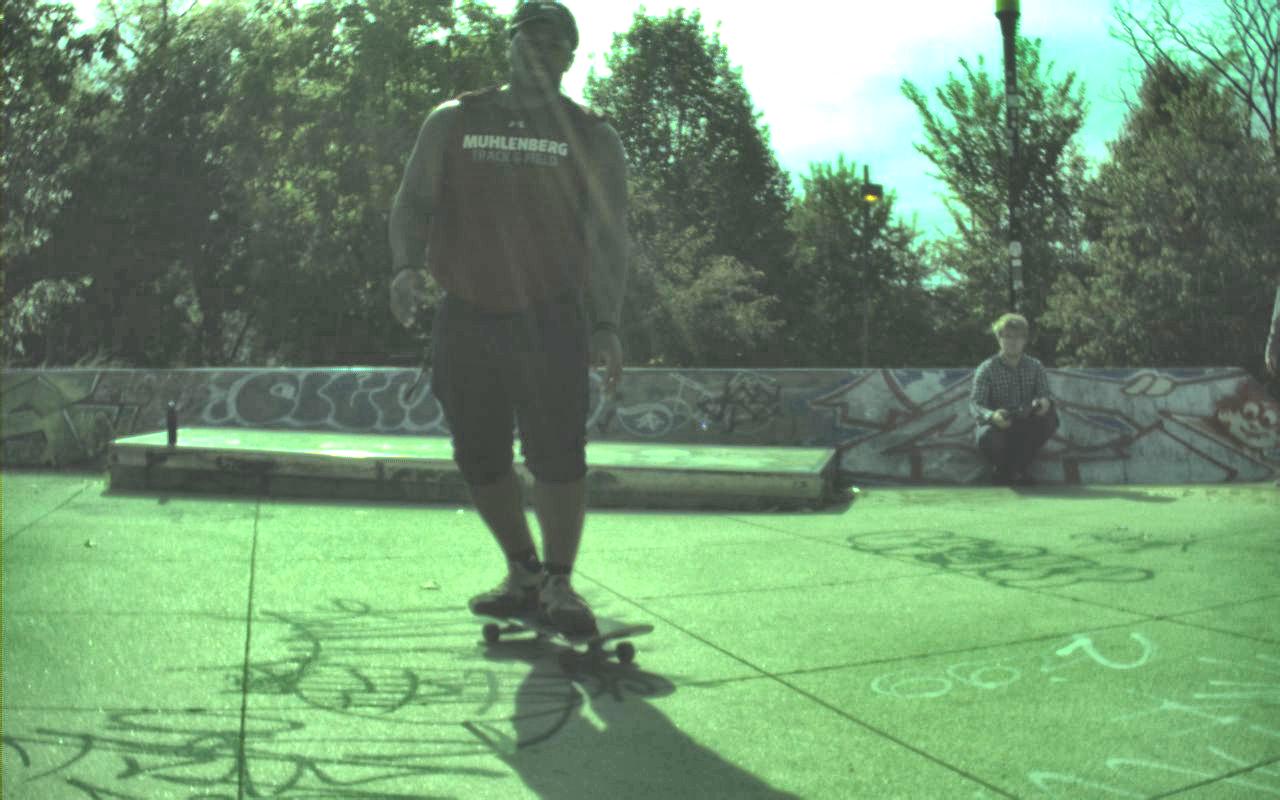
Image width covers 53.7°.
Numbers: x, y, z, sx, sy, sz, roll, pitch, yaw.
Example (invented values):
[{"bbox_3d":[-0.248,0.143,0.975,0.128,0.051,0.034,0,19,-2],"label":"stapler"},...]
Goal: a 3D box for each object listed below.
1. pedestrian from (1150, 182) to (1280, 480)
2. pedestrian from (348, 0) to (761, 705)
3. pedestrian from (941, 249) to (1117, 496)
[{"bbox_3d":[3.748,-0.405,7.220,0.805,1.761,0.788,0,0,-26],"label":"pedestrian"},{"bbox_3d":[-0.268,-0.246,3.161,0.858,1.790,0.891,0,0,-20],"label":"pedestrian"},{"bbox_3d":[2.530,-0.169,7.908,0.879,1.503,0.834,0,0,-13],"label":"pedestrian"}]
